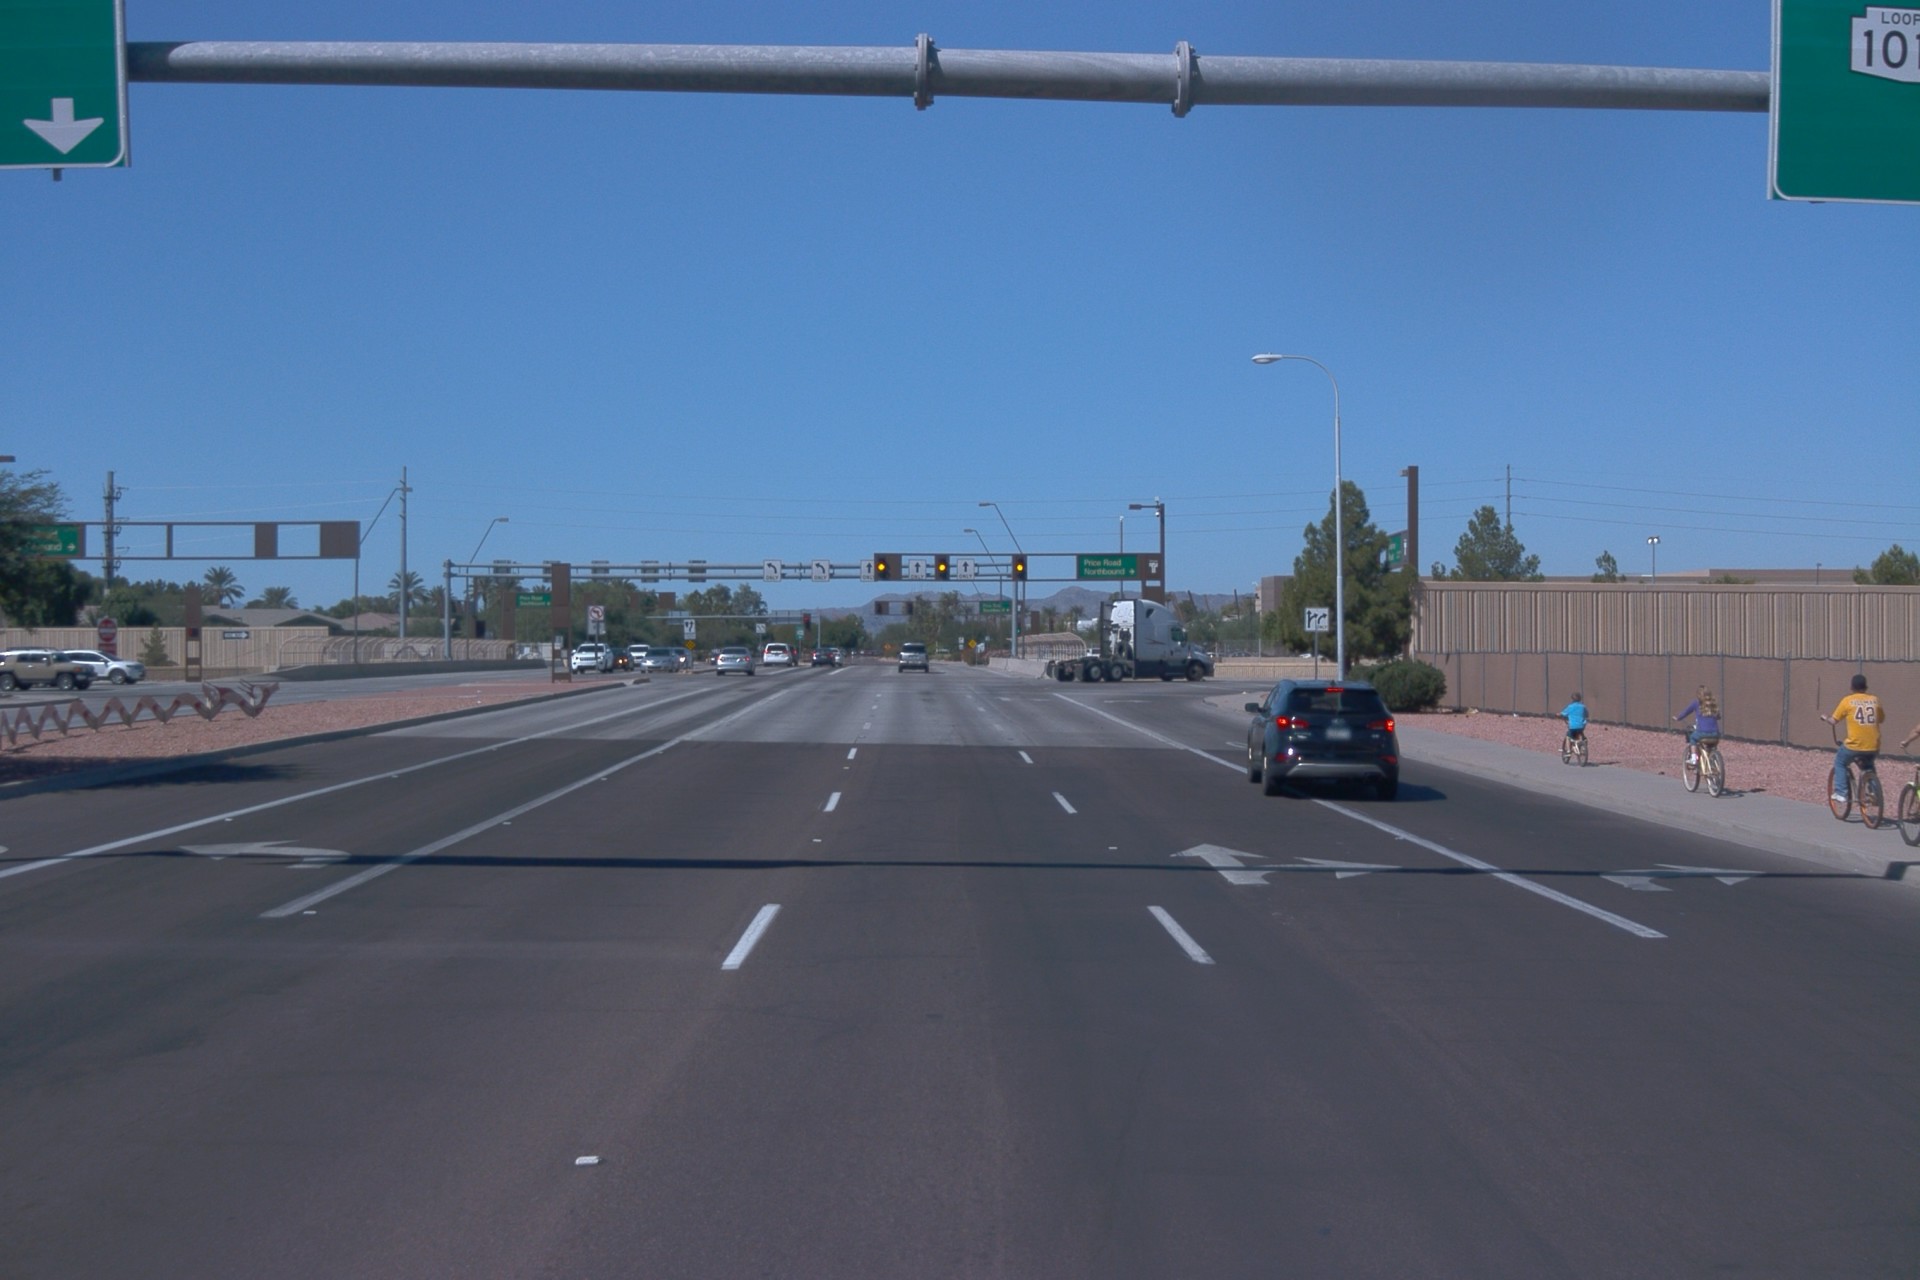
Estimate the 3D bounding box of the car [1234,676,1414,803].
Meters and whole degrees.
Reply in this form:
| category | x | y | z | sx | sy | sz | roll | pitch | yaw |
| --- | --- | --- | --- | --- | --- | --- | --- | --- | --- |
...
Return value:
| category | x | y | z | sx | sy | sz | roll | pitch | yaw |
| --- | --- | --- | --- | --- | --- | --- | --- | --- | --- |
| car | 5.358 | 1.421 | 31.259 | 2.155 | 1.730 | 4.730 | 1 | -1 | 4 |

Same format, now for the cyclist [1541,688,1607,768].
| category | x | y | z | sx | sy | sz | roll | pitch | yaw |
| --- | --- | --- | --- | --- | --- | --- | --- | --- | --- |
| cyclist | 10.492 | 1.499 | 35.635 | 0.670 | 1.320 | 1.442 | 1 | -1 | -1 |

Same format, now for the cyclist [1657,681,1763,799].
| category | x | y | z | sx | sy | sz | roll | pitch | yaw |
| --- | --- | --- | --- | --- | --- | --- | --- | --- | --- |
| cyclist | 10.409 | 1.365 | 28.963 | 0.814 | 1.570 | 1.964 | 1 | -1 | 2 |
